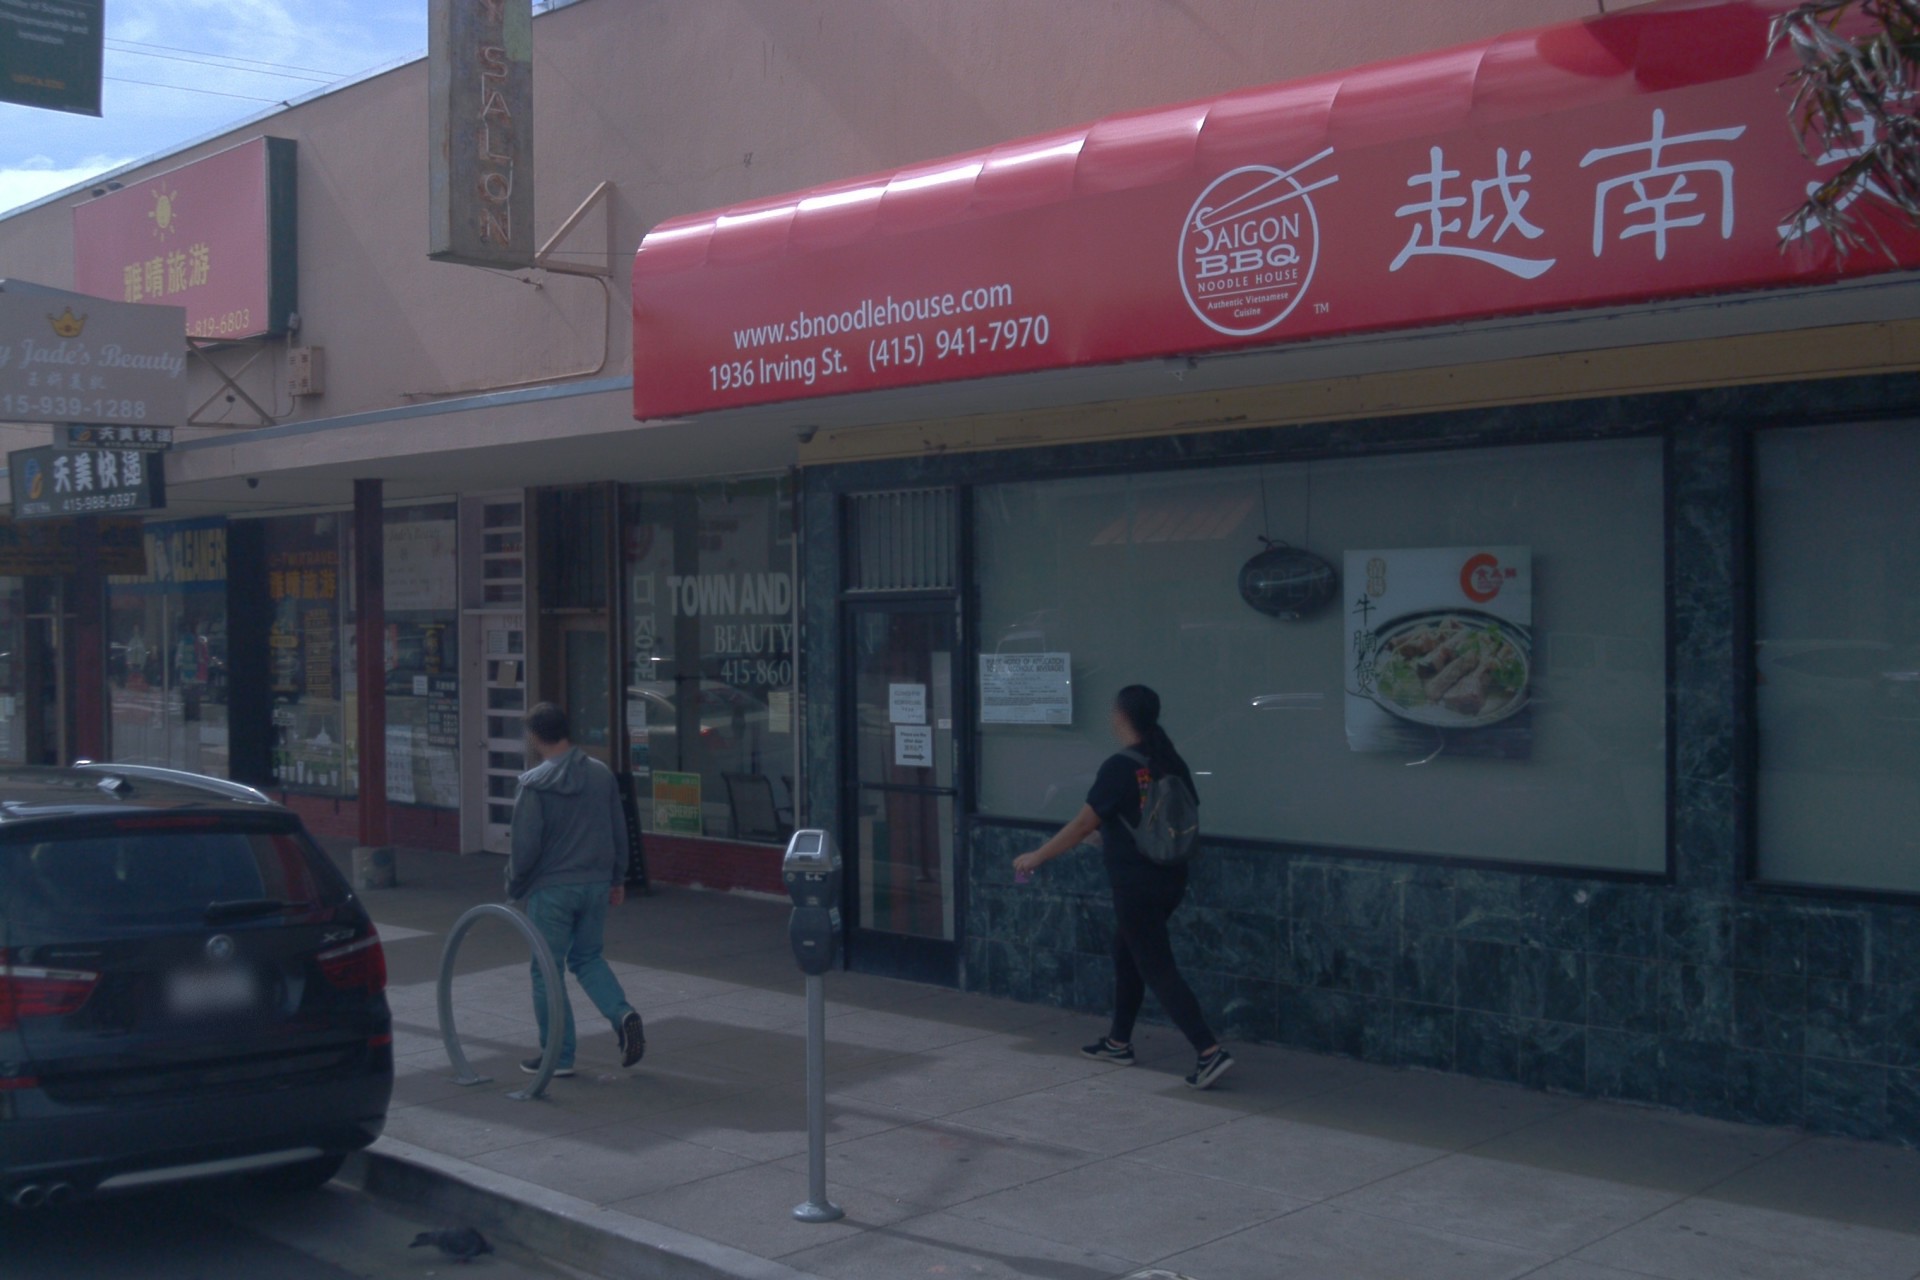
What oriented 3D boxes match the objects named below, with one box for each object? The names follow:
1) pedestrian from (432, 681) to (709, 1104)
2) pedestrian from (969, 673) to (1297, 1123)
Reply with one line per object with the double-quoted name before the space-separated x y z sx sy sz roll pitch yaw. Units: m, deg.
"pedestrian" -1.770 1.083 9.405 0.995 1.778 0.768 0 -1 40
"pedestrian" 0.759 1.067 9.193 0.883 1.826 1.142 1 -1 -44
